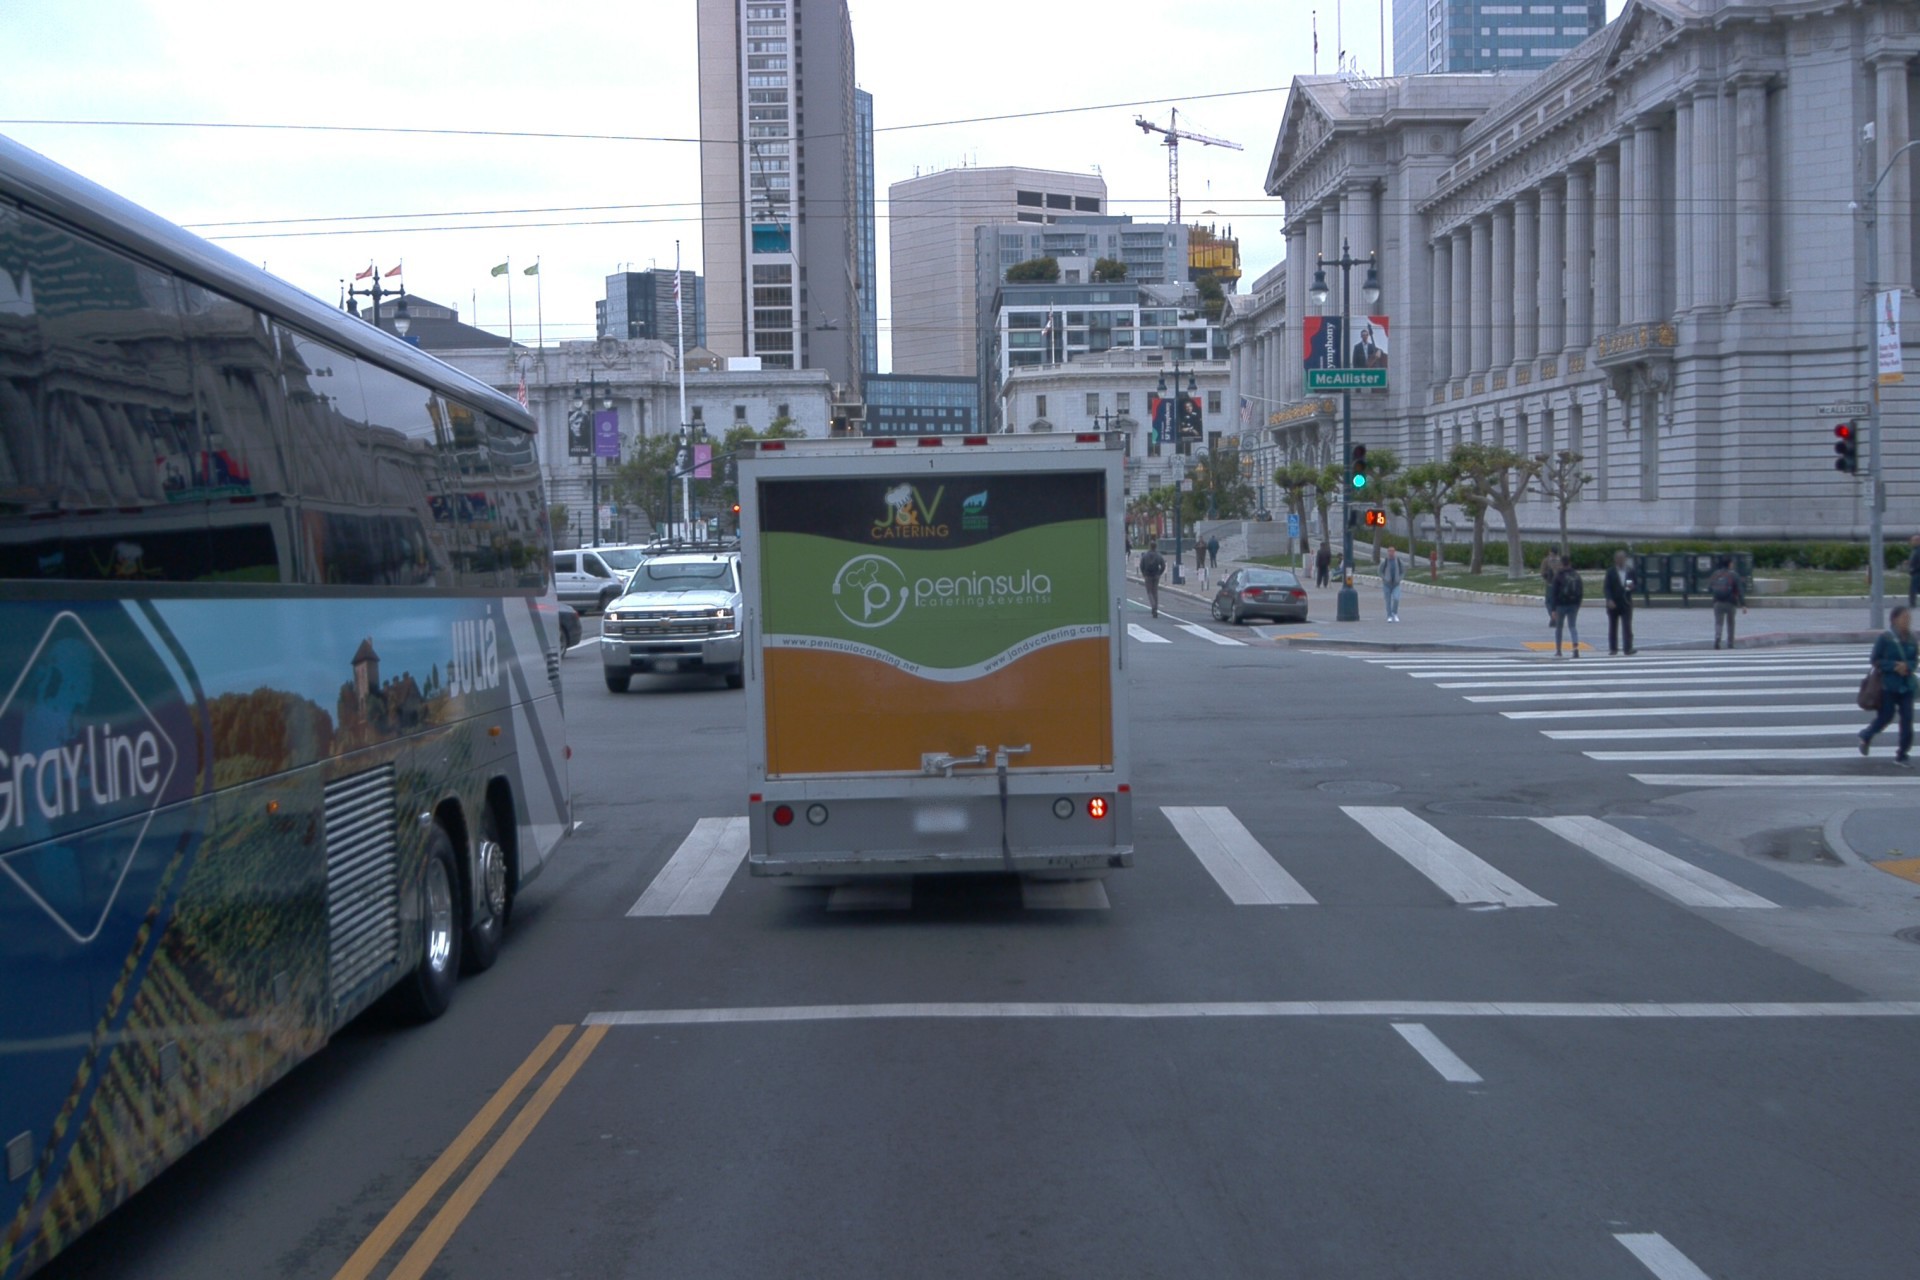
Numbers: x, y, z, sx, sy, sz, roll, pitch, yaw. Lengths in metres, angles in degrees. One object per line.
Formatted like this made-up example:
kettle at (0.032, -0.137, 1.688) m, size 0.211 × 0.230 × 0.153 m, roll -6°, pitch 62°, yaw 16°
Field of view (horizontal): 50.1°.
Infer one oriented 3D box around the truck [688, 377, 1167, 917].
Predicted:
truck at (-0.249, -0.013, 16.251) m, size 2.917 × 3.300 × 7.284 m, roll 0°, pitch 1°, yaw -1°

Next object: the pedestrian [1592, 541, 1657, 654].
pedestrian at (11.011, -0.701, 34.097) m, size 0.812 × 1.850 × 0.951 m, roll 0°, pitch 1°, yaw 3°

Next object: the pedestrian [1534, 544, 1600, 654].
pedestrian at (9.851, -0.667, 33.386) m, size 0.831 × 1.760 × 0.934 m, roll 0°, pitch 1°, yaw 4°

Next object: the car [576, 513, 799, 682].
car at (-4.043, -0.637, 31.665) m, size 2.434 × 2.339 × 5.913 m, roll 0°, pitch 1°, yaw 2°
